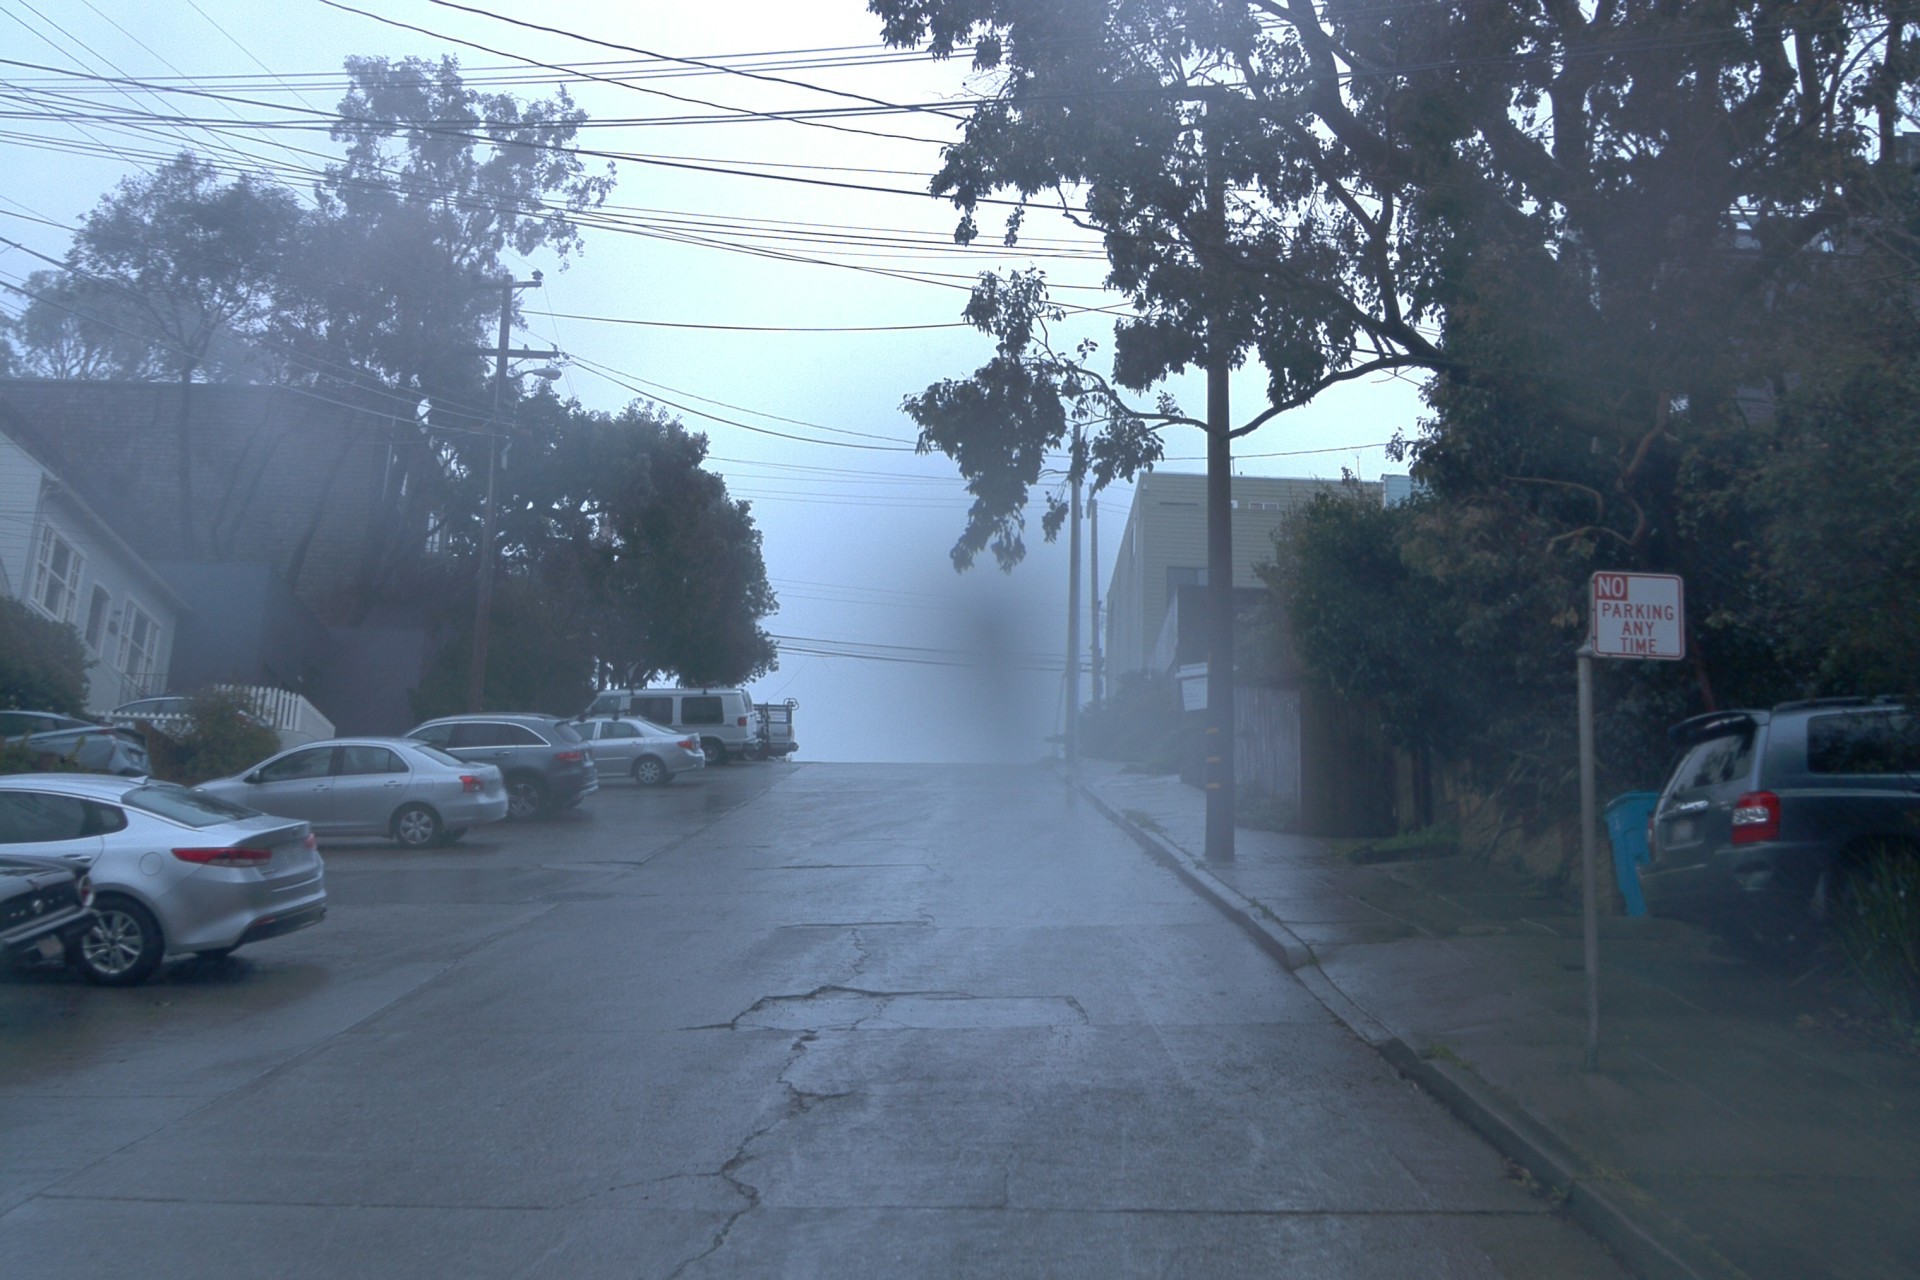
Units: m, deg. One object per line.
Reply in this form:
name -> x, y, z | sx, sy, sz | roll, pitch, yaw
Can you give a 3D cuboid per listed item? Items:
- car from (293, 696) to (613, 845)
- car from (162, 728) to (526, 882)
car -> -7.901, 2.017, 32.604 | 4.489, 2.200, 2.185 | 0, 0, 2
car -> -7.969, 2.118, 27.092 | 4.171, 1.850, 2.003 | 0, 0, 1
